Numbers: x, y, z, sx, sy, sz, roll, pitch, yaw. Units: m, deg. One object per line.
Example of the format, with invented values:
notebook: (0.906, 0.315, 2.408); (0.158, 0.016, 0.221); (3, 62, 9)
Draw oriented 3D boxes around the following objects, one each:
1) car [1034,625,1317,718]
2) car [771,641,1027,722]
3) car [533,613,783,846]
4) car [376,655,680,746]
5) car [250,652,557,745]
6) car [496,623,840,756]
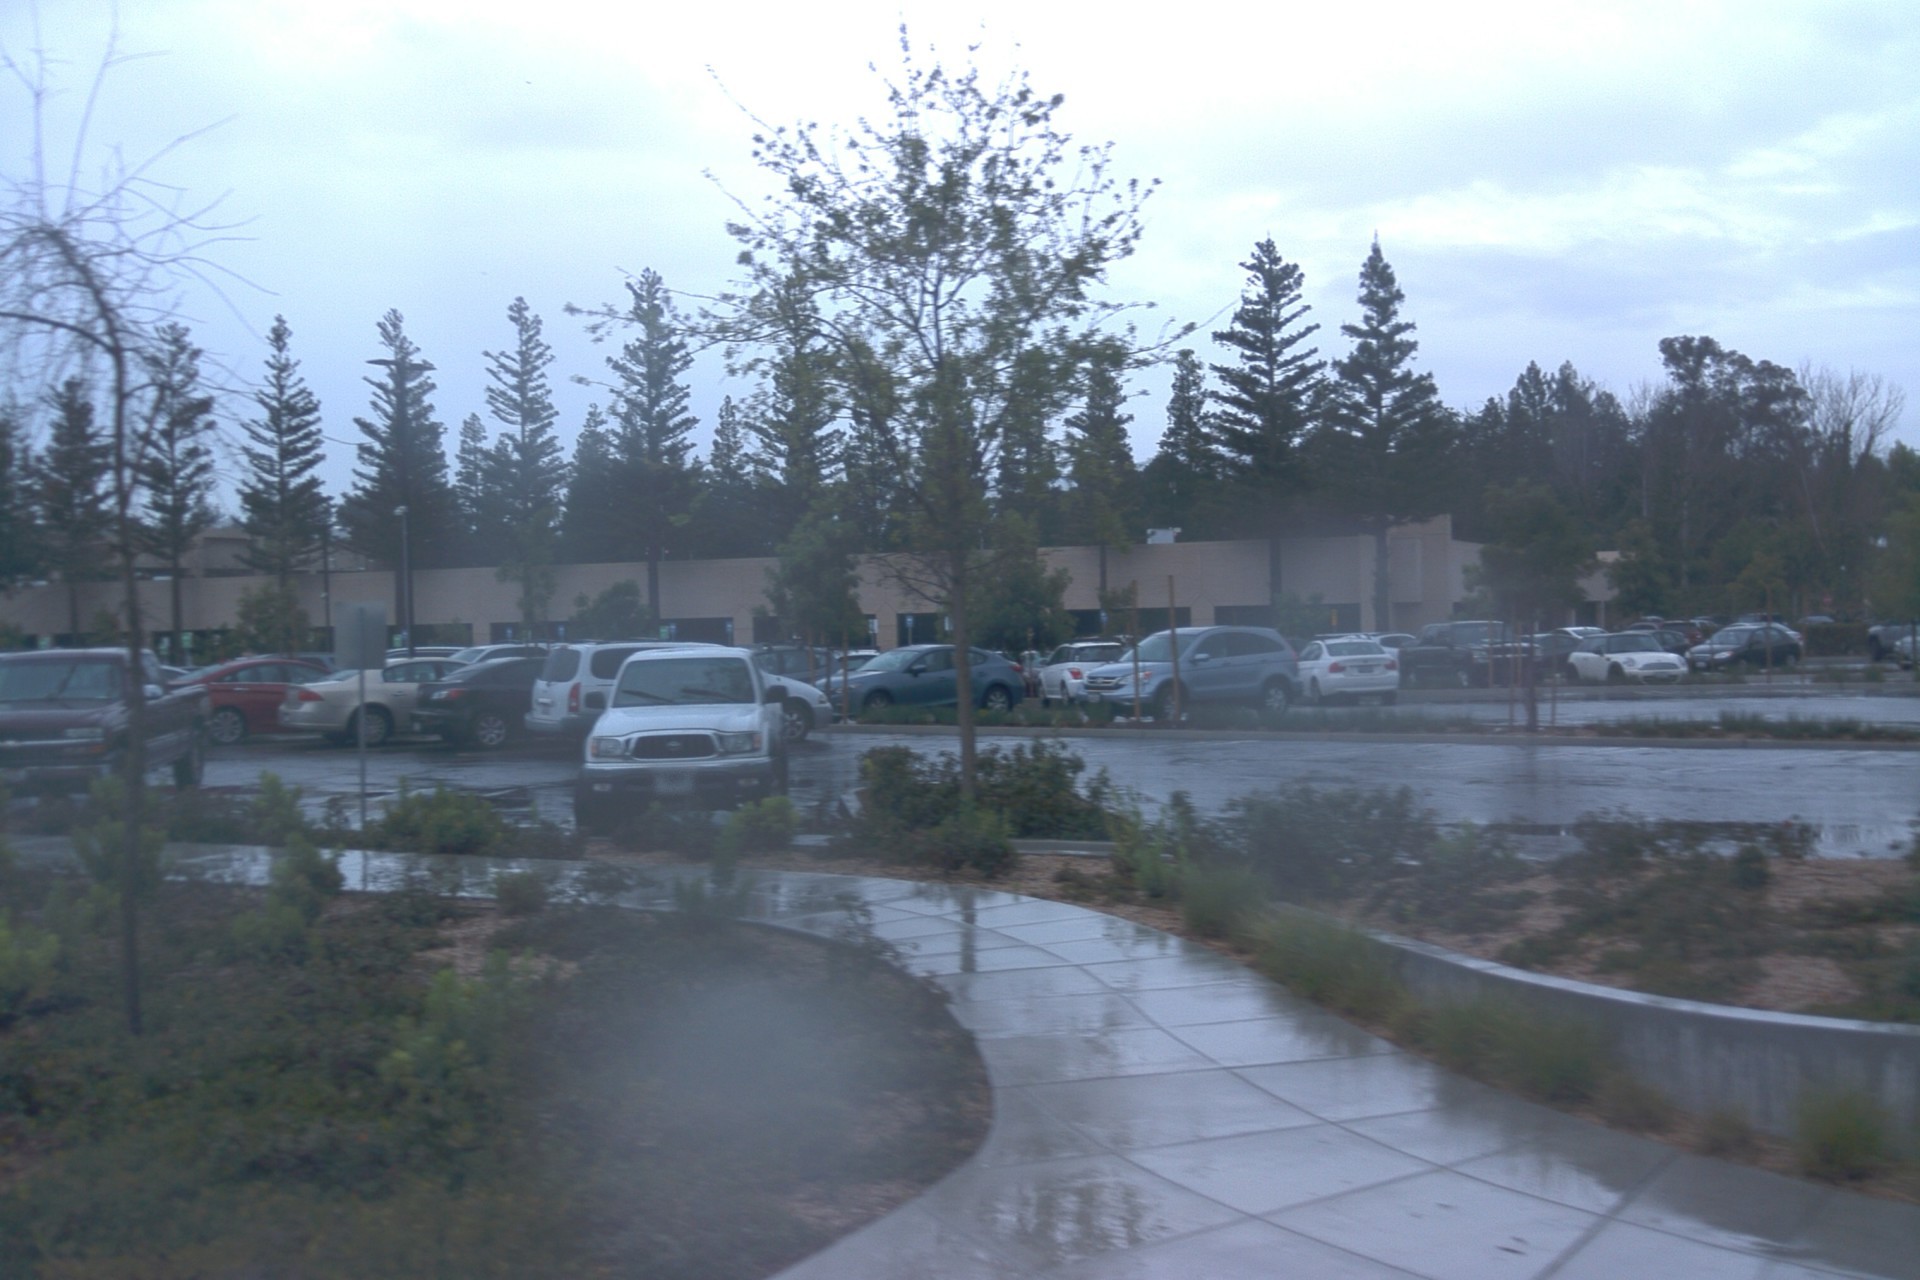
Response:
car: (3.755, 0.539, 35.764); (4.683, 1.510, 2.184); (1, -1, -40)
car: (-1.106, 0.762, 38.545); (4.378, 1.420, 2.062); (1, -1, -38)
car: (-2.870, 0.821, 20.865); (2.088, 2.040, 5.213); (0, -1, -4)
car: (-7.076, 0.965, 34.199); (4.439, 1.410, 2.071); (1, -1, -33)
car: (-9.495, 0.972, 35.606); (4.604, 1.500, 2.160); (1, -1, -36)
car: (-4.557, 0.753, 32.671); (4.882, 1.950, 2.171); (1, -1, -32)
